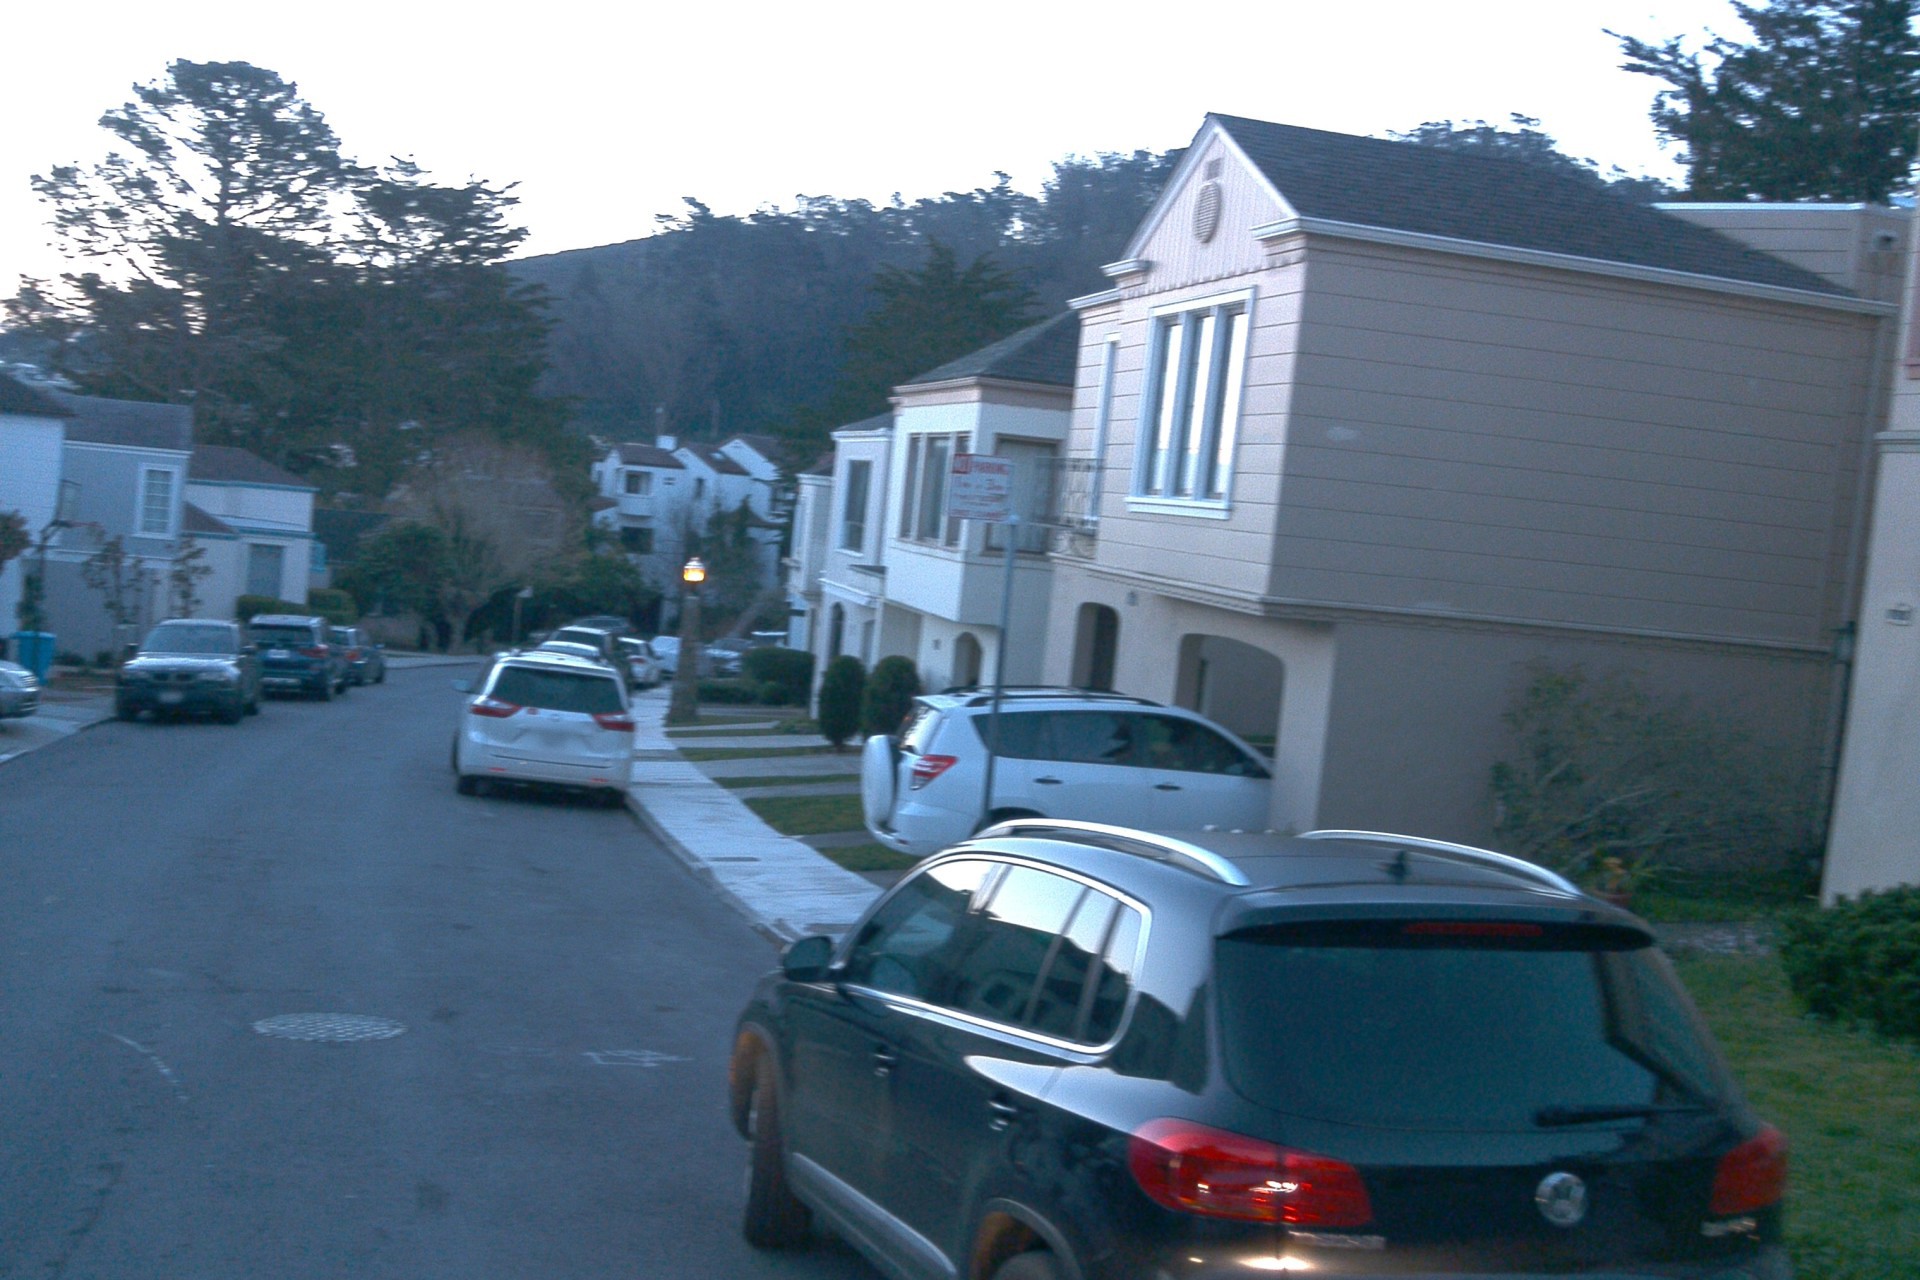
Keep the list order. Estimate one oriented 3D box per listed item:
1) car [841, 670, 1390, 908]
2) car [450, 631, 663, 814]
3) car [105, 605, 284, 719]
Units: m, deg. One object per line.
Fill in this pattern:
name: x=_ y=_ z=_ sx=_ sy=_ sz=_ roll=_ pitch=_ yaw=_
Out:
car: x=1.271 y=1.200 z=17.824 sx=4.321 sy=1.860 sz=1.952 roll=0 pitch=0 yaw=-12
car: x=-5.166 y=0.944 z=25.960 sx=2.373 sy=2.050 sz=5.080 roll=0 pitch=0 yaw=-14
car: x=-12.485 y=0.351 z=34.074 sx=2.093 sy=1.740 sz=4.531 roll=0 pitch=0 yaw=-12
